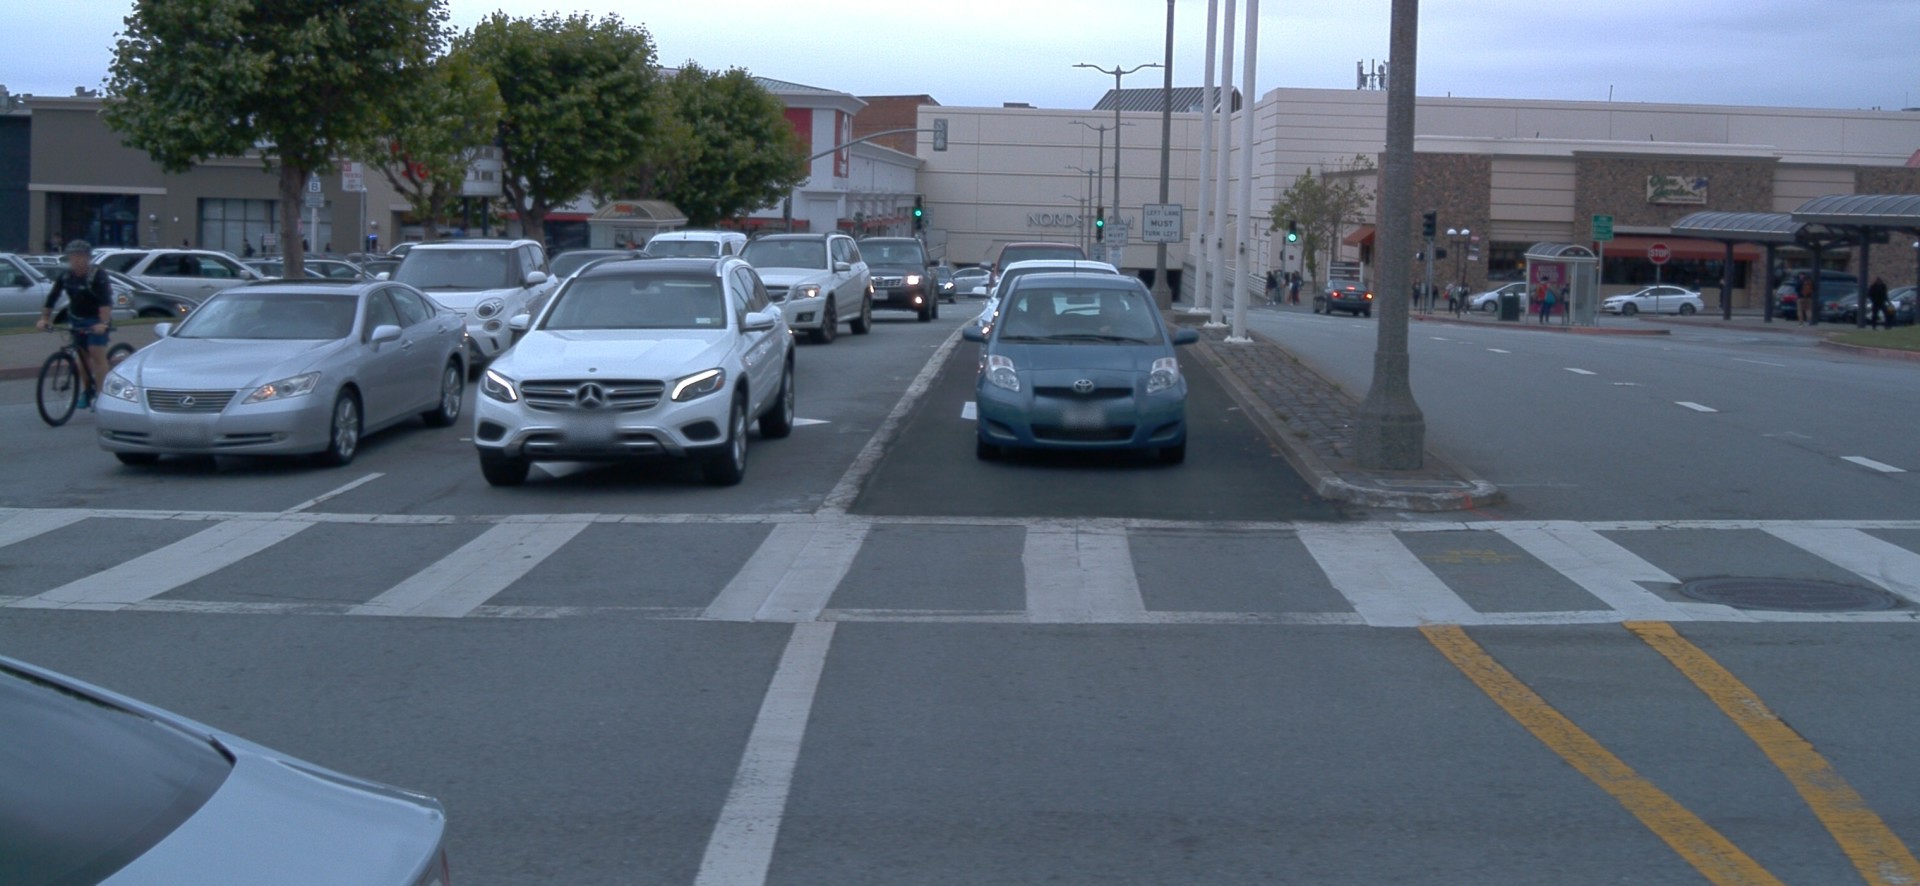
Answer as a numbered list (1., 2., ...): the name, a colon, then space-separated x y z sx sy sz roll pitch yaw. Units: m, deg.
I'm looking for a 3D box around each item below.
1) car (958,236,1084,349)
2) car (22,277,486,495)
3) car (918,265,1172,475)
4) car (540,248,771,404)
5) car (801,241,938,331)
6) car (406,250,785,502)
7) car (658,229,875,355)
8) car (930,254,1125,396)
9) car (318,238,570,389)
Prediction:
1. car: 0.993 -2.416 32.500 1.896 1.695 3.093 0 4 3
2. car: -5.902 -0.629 17.942 2.126 1.544 4.821 0 5 4
3. car: 0.695 -0.740 18.056 1.989 1.584 3.901 0 5 1
4. car: -3.403 -1.452 23.886 2.326 1.593 4.773 0 5 -4
5. car: -1.654 -3.050 39.328 2.094 1.604 4.526 0 5 4
6. car: -2.805 -0.694 16.986 2.115 1.763 4.568 0 5 3
7. car: -2.865 -2.386 31.521 2.187 1.773 4.598 1 5 10
8. car: 0.857 -1.498 24.713 2.118 1.494 4.729 0 5 3
9. car: -6.202 -1.663 25.205 2.025 1.684 4.170 0 5 0
